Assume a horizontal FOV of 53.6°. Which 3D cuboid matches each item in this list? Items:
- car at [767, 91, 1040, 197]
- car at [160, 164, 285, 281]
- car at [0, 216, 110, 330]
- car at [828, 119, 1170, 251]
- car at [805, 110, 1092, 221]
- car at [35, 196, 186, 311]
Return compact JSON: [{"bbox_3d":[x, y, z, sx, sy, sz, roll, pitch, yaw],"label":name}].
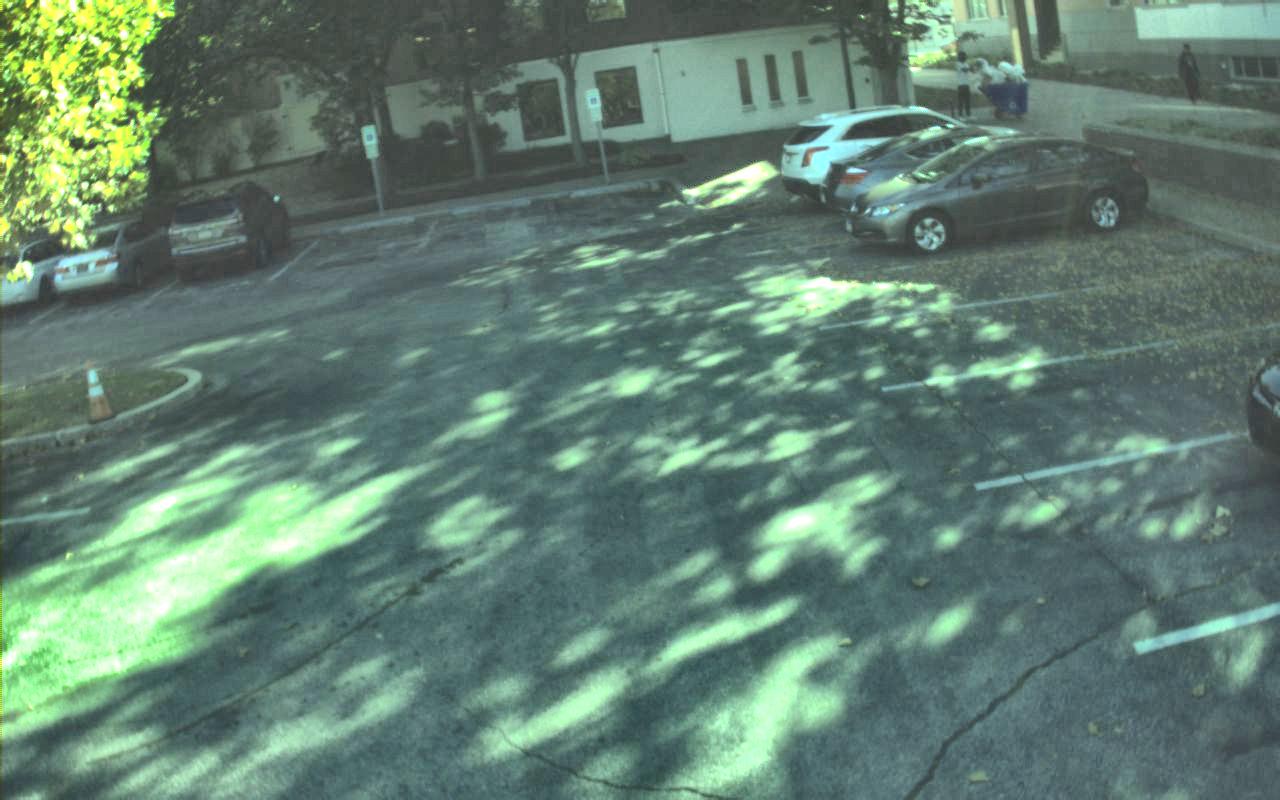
[{"bbox_3d":[4.716,-4.616,21.970,4.580,1.682,1.992,-3,16,-8],"label":"car"},{"bbox_3d":[-8.877,-3.866,25.680,1.982,1.697,4.530,-4,17,-9],"label":"car"},{"bbox_3d":[-13.920,-2.886,25.788,1.952,1.645,4.513,-1,17,1],"label":"car"},{"bbox_3d":[5.094,-3.078,17.199,4.624,1.576,1.985,-2,16,-5],"label":"car"},{"bbox_3d":[4.932,-3.786,19.553,4.310,1.539,1.913,-3,16,-6],"label":"car"},{"bbox_3d":[-11.497,-3.220,25.337,1.938,1.625,4.467,-2,17,-3],"label":"car"}]
